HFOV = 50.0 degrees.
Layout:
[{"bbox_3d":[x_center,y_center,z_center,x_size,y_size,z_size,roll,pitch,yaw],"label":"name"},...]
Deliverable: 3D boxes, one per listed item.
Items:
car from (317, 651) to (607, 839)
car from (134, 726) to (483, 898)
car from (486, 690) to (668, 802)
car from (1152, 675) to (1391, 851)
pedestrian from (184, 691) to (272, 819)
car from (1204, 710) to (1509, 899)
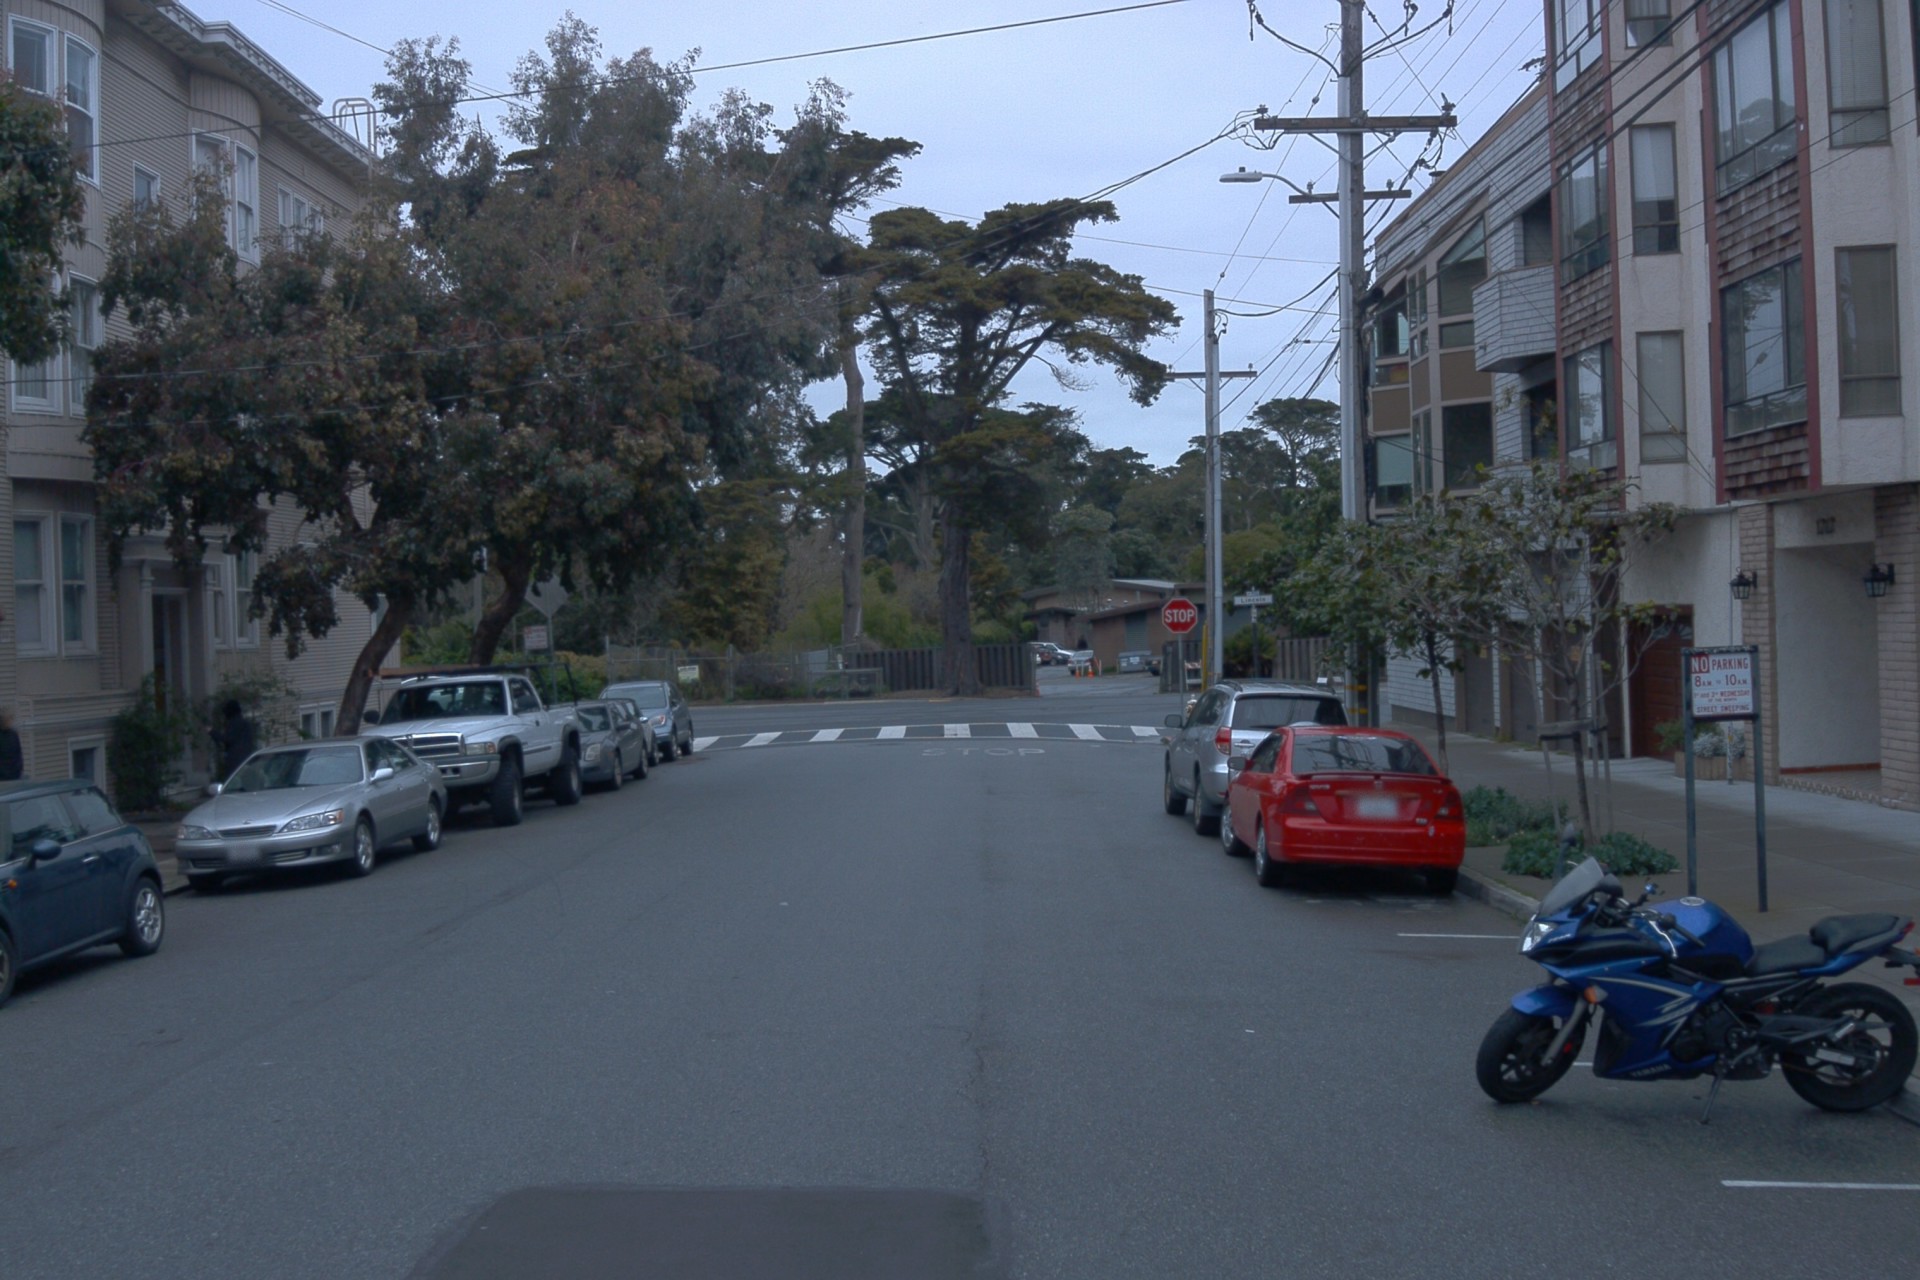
[{"bbox_3d":[-6.638,1.303,28.343,2.346,2.270,6.089,0,0,2],"label":"car"},{"bbox_3d":[-6.699,1.722,21.813,2.147,1.430,4.740,0,0,1],"label":"car"},{"bbox_3d":[-6.211,1.685,33.954,2.056,1.600,4.792,0,0,1],"label":"car"},{"bbox_3d":[3.481,1.328,23.930,2.050,1.750,4.739,0,0,0],"label":"car"},{"bbox_3d":[-9.723,1.516,27.389,0.901,1.650,0.748,0,0,-2],"label":"pedestrian"},{"bbox_3d":[3.517,1.422,19.155,1.981,1.390,4.632,0,0,0],"label":"car"}]
